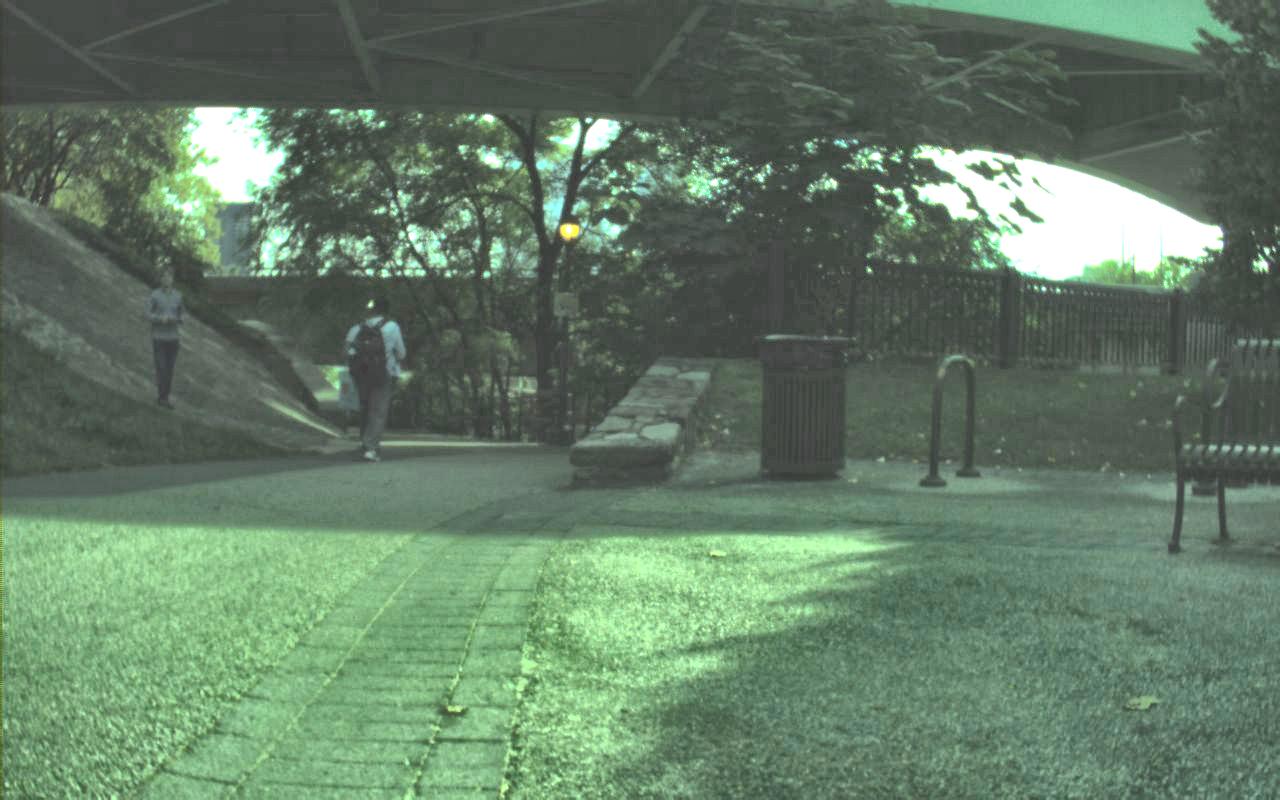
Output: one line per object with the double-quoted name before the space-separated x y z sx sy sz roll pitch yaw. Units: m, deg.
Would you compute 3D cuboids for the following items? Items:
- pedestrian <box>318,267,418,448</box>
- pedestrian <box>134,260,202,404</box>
"pedestrian" -2.707 -0.412 12.352 0.866 1.738 0.910 0 0 -3
"pedestrian" -6.247 -0.856 15.576 0.779 1.841 0.752 0 0 -35
